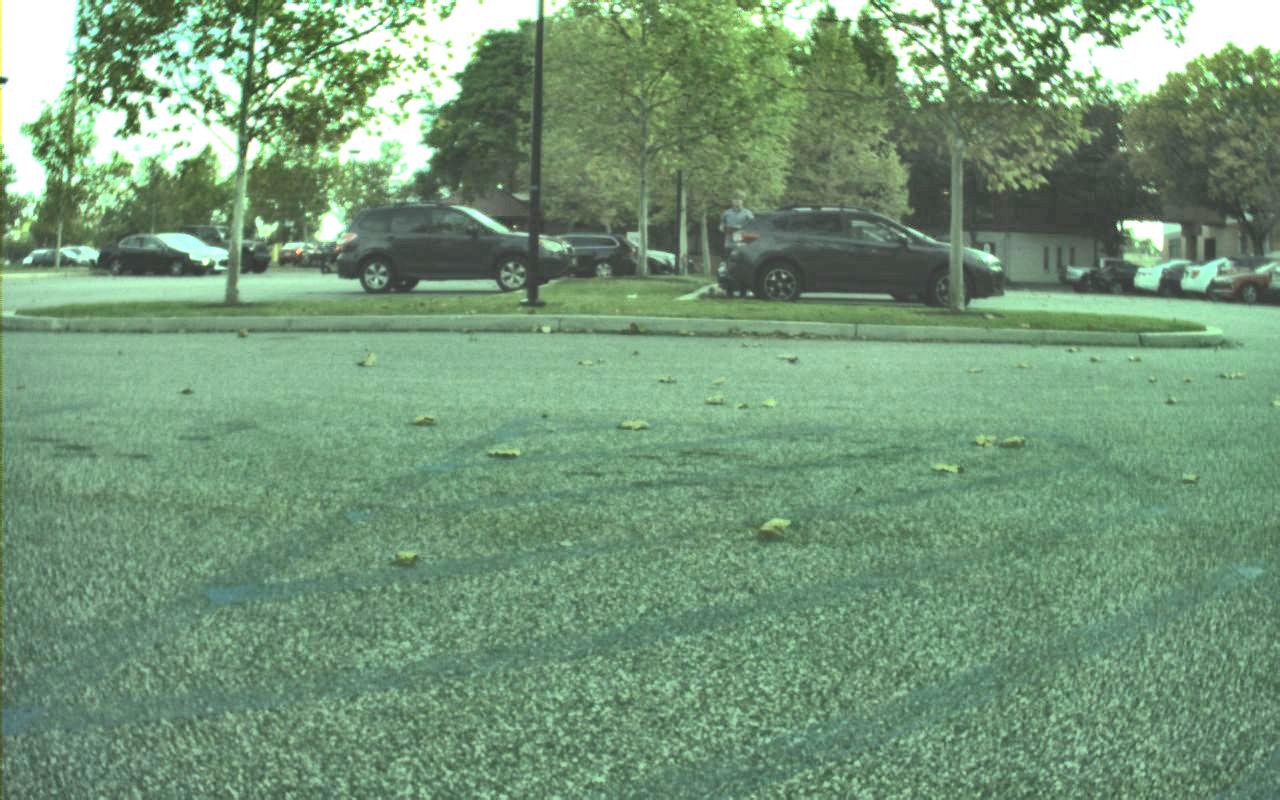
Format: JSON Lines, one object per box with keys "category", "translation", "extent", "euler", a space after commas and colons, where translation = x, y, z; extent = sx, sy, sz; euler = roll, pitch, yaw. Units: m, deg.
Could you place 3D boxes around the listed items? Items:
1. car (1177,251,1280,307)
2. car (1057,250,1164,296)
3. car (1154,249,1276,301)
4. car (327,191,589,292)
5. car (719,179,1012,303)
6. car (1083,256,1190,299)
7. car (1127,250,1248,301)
{"category": "car", "translation": [20.706, -4.040, 39.306], "extent": [4.451, 1.687, 1.958], "euler": [1, 1, 10]}
{"category": "car", "translation": [22.550, -5.976, 57.055], "extent": [4.998, 1.917, 2.103], "euler": [1, 1, 6]}
{"category": "car", "translation": [20.859, -4.404, 41.801], "extent": [4.407, 1.655, 1.956], "euler": [1, 1, 8]}
{"category": "car", "translation": [-3.423, -2.950, 23.634], "extent": [4.629, 1.674, 1.982], "euler": [1, 1, 7]}
{"category": "car", "translation": [3.535, -2.485, 19.878], "extent": [4.535, 1.743, 1.959], "euler": [1, 1, 4]}
{"category": "car", "translation": [21.868, -5.280, 52.068], "extent": [4.581, 1.601, 1.964], "euler": [0, 1, -1]}
{"category": "car", "translation": [20.917, -4.627, 44.429], "extent": [4.569, 1.719, 2.001], "euler": [1, 1, 9]}
